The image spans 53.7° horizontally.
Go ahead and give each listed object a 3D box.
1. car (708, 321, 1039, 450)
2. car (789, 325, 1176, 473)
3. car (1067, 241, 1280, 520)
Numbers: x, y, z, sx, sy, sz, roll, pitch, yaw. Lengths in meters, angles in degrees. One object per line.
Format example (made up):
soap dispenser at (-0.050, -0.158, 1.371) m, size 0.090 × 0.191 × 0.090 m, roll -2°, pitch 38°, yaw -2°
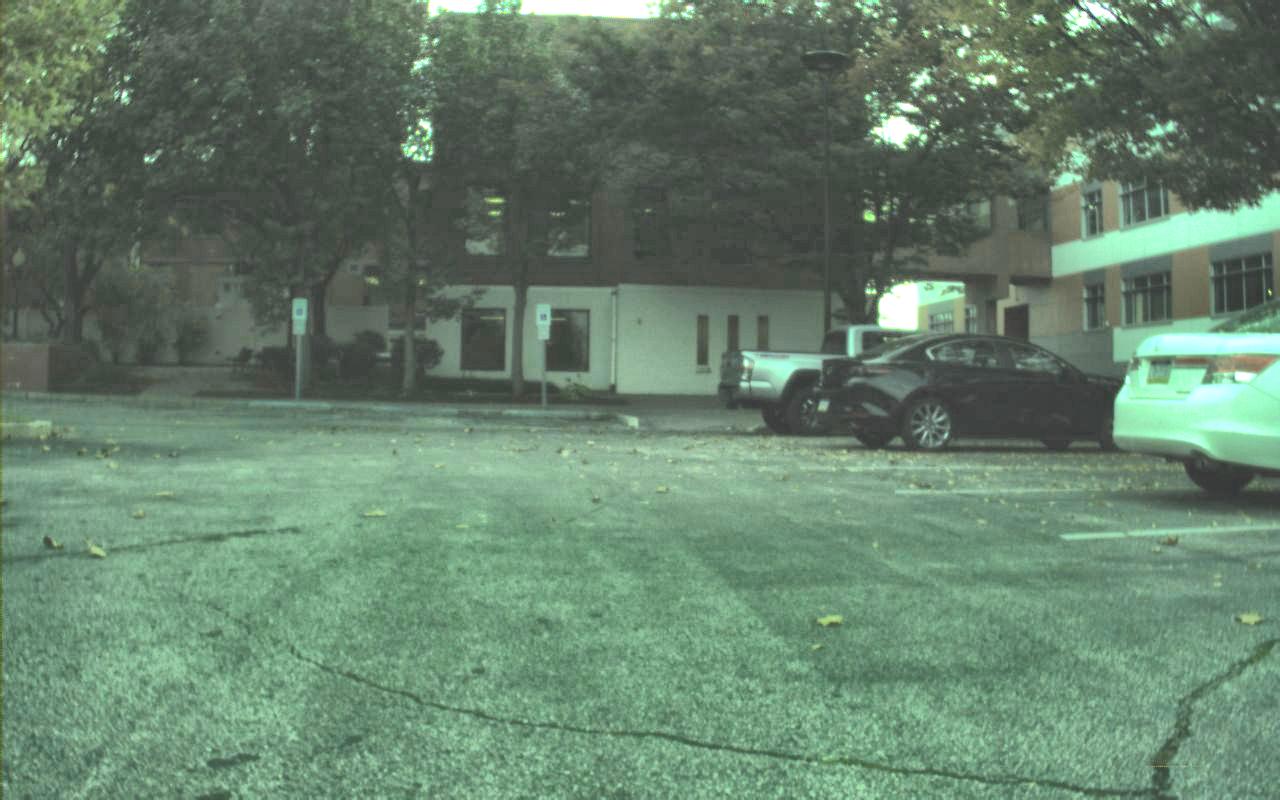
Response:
car at (3.753, -0.232, 20.112) m, size 5.014 × 1.916 × 2.099 m, roll 0°, pitch 1°, yaw -8°
car at (4.318, -0.030, 15.155) m, size 4.603 × 1.605 × 1.960 m, roll 0°, pitch 1°, yaw -16°
car at (5.239, -0.113, 7.675) m, size 4.385 × 1.545 × 1.904 m, roll 0°, pitch 1°, yaw -11°
